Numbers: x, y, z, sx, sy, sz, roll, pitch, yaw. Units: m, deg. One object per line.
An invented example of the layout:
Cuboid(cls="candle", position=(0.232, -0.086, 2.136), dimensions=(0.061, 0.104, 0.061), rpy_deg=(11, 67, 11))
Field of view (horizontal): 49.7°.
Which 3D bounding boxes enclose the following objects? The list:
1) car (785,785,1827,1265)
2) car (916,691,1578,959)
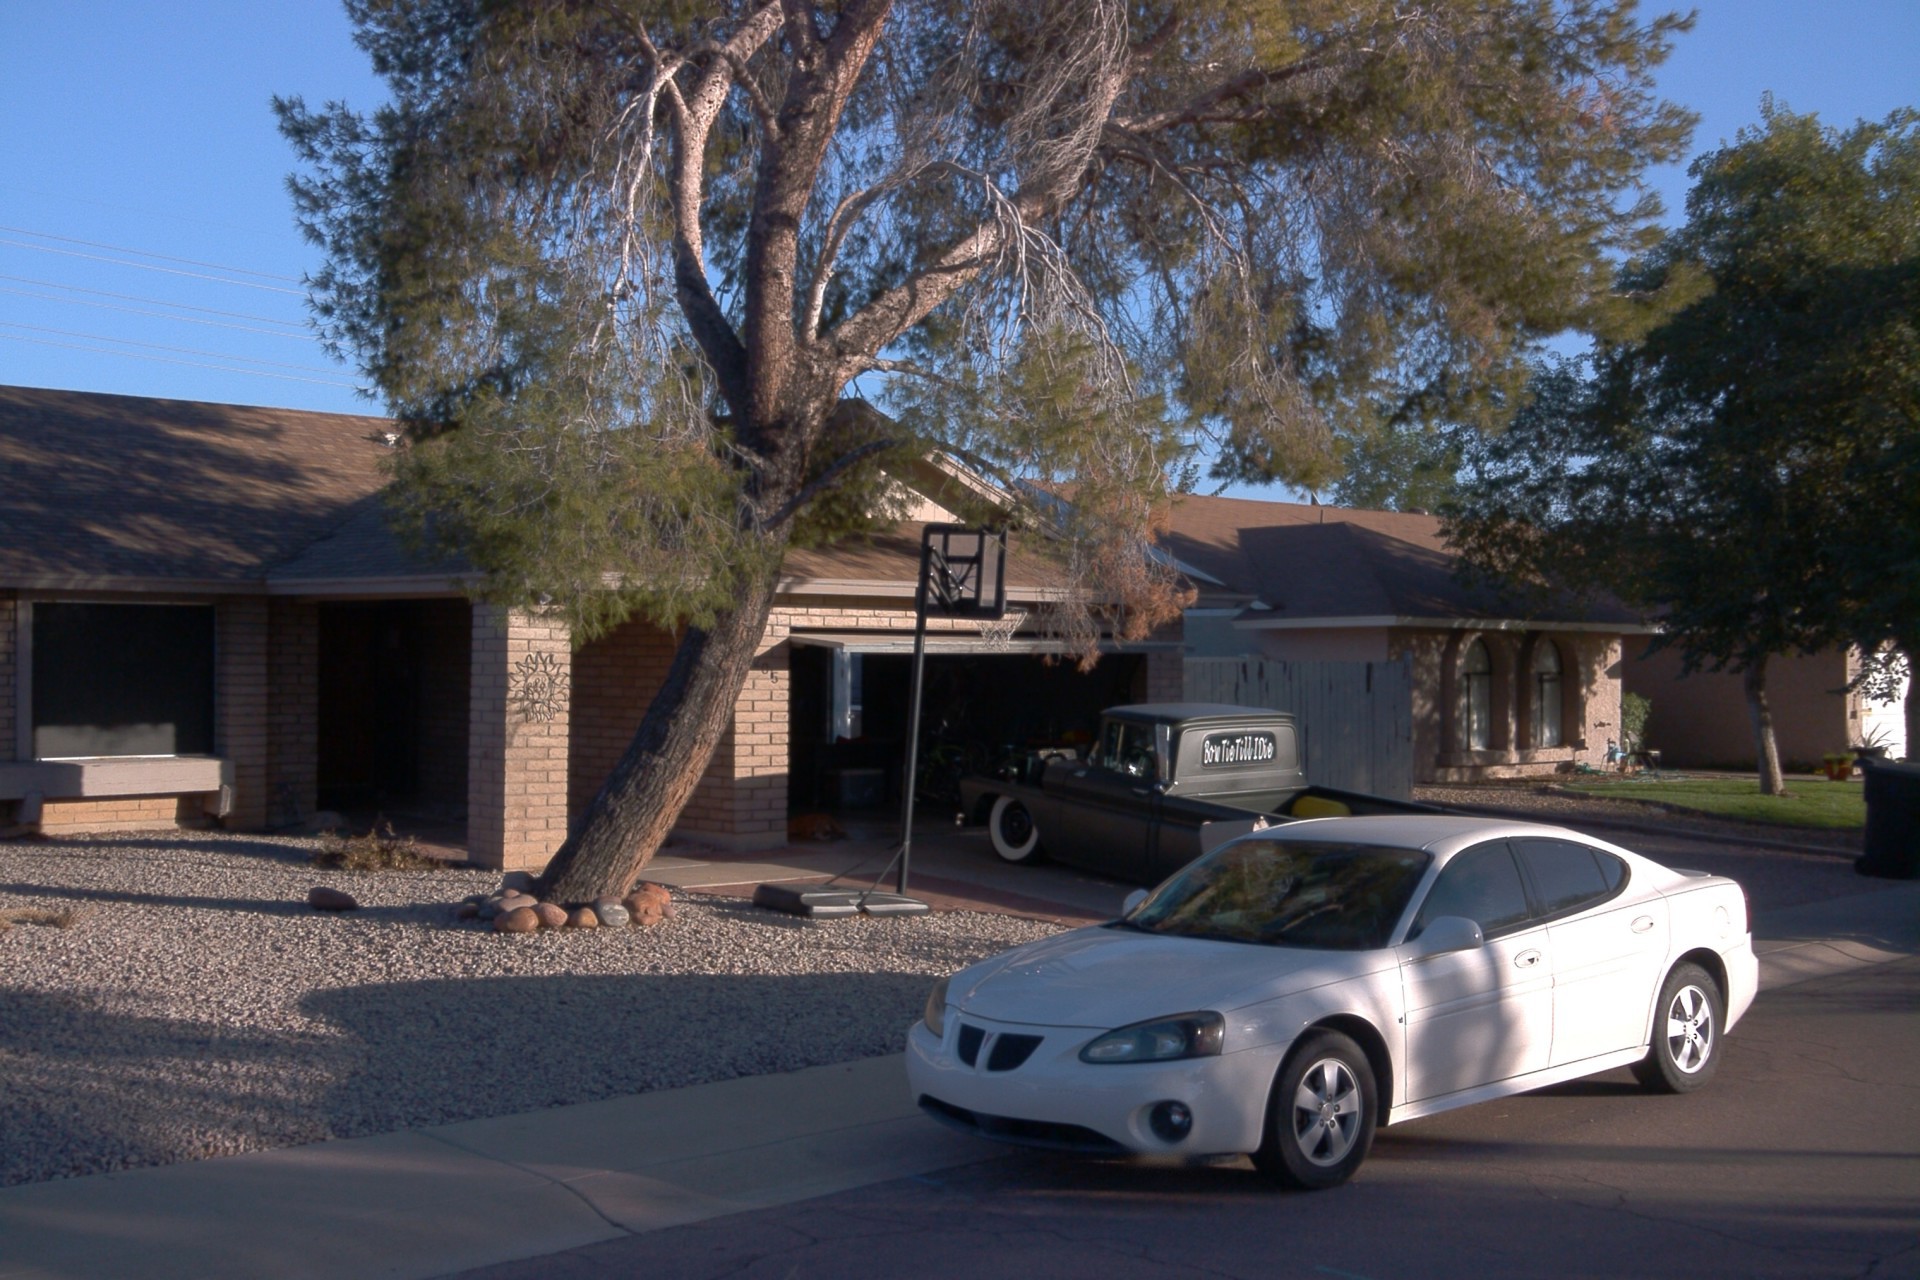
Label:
Cuboid(cls="car", position=(1.885, 1.573, 10.020), dimensions=(5.114, 1.460, 2.180), rpy_deg=(1, 0, -41))
Cuboid(cls="car", position=(2.288, 1.420, 17.914), dimensions=(2.351, 1.810, 5.407), rpy_deg=(1, 0, -42))
